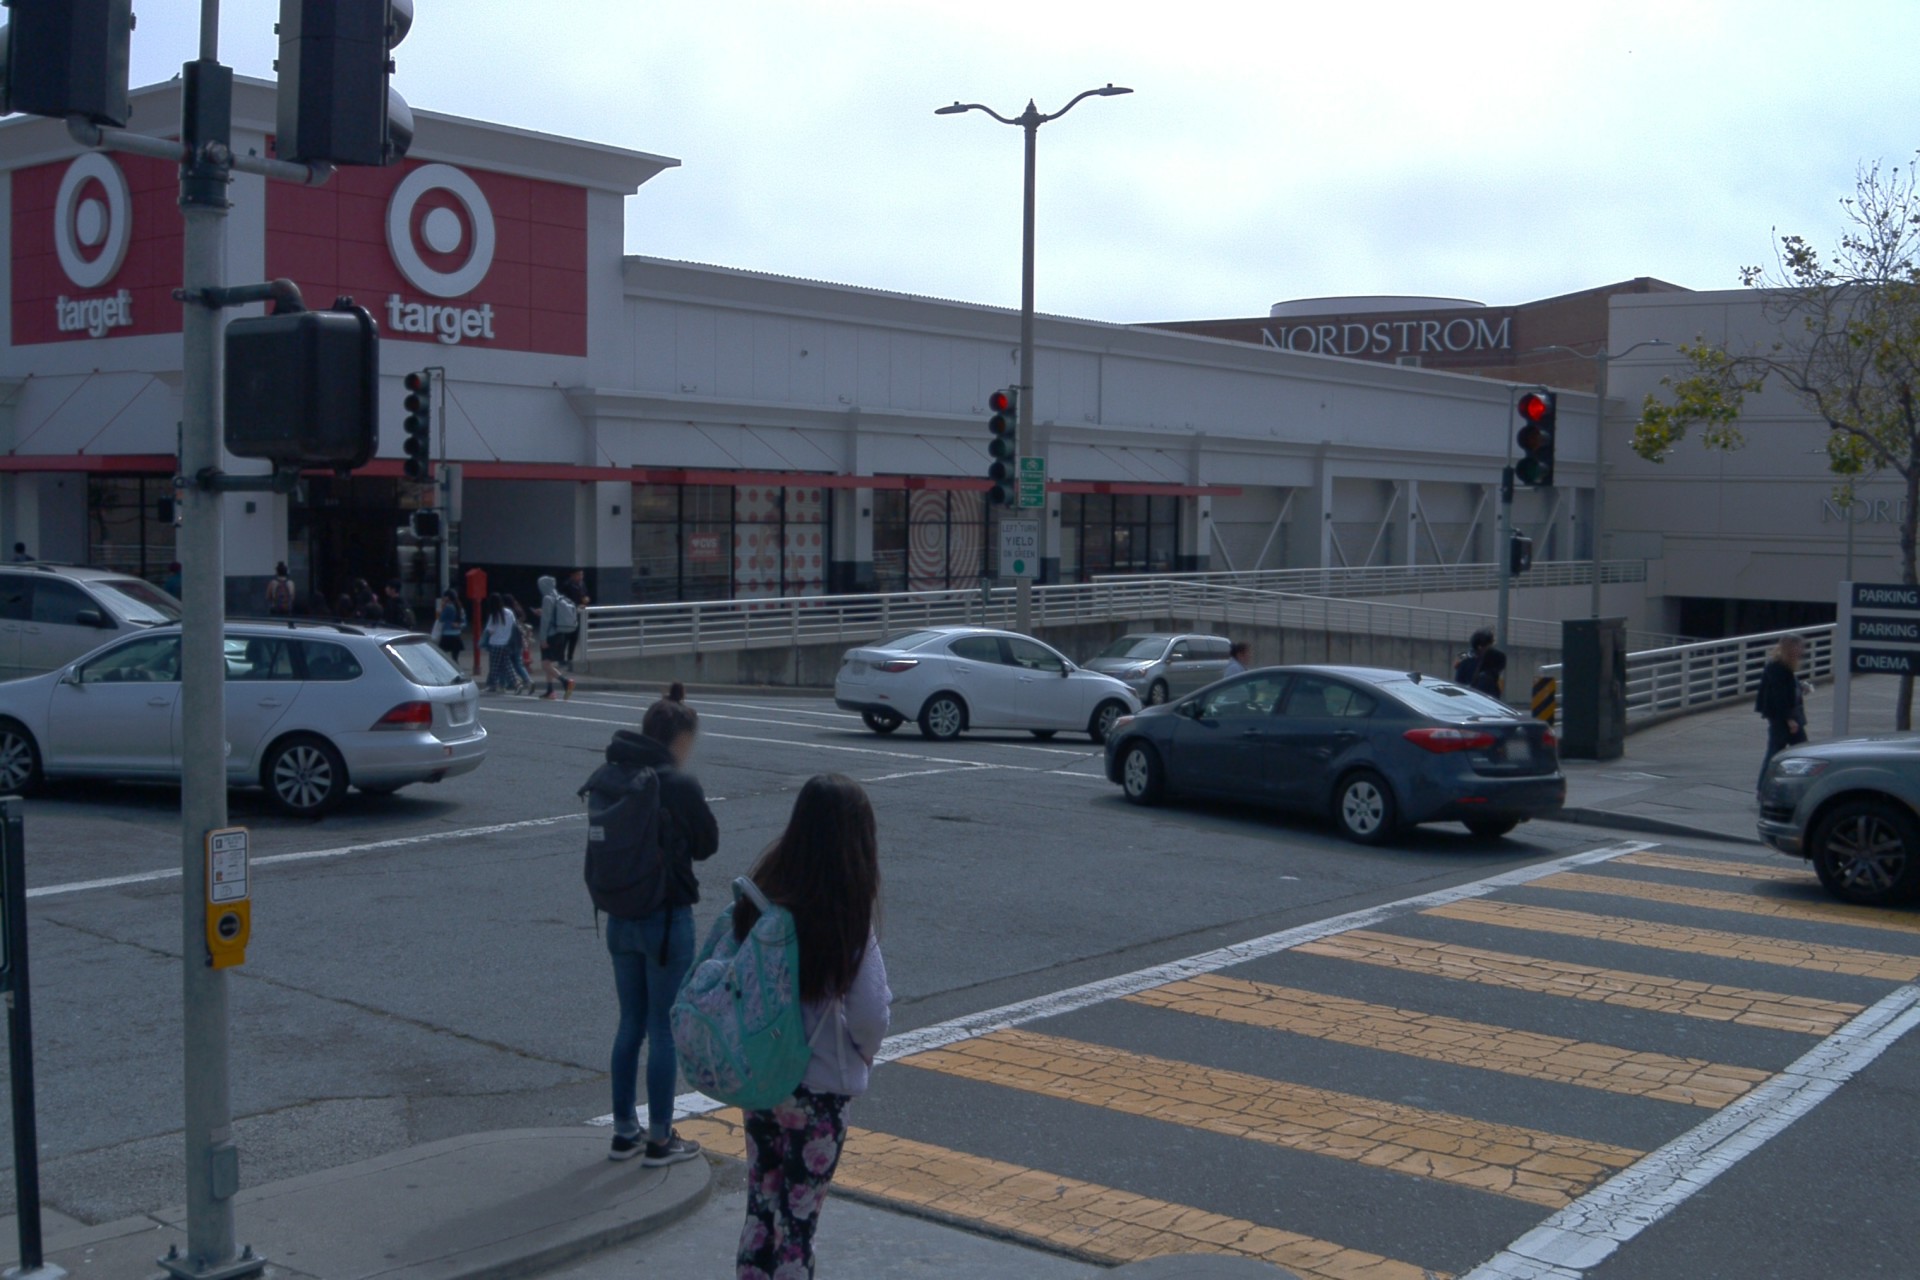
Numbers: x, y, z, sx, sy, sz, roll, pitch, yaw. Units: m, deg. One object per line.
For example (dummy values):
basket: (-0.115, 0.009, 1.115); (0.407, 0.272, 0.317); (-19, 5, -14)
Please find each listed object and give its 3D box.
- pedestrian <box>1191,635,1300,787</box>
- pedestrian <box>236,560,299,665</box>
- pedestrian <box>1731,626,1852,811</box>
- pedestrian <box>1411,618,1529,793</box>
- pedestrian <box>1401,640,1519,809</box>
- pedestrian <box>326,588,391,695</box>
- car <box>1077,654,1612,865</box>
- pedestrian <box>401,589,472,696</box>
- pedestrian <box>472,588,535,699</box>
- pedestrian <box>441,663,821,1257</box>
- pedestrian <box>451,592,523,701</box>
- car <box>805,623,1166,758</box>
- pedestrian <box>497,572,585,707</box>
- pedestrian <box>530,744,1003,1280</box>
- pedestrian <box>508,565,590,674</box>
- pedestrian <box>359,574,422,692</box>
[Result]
pedestrian: (3.147, 0.757, 22.688); (0.973, 1.610, 0.943); (0, 1, 23)
pedestrian: (-11.401, -0.446, 33.987); (0.689, 1.700, 0.895); (-1, 1, -40)
pedestrian: (7.819, 0.715, 19.399); (0.926, 1.680, 0.769); (0, 1, 32)
pedestrian: (5.250, 0.647, 21.233); (1.018, 1.750, 0.795); (0, 1, 27)
pedestrian: (4.987, 0.822, 20.570); (0.987, 1.630, 0.742); (0, 1, 28)
pedestrian: (-9.145, 0.017, 31.377); (0.758, 1.600, 0.587); (0, 1, 36)
car: (3.232, 0.931, 18.129); (2.068, 1.520, 4.363); (-1, 1, -37)
pedestrian: (-8.122, 0.034, 32.031); (0.721, 1.630, 0.786); (0, 1, 33)
pedestrian: (-7.039, 0.051, 31.817); (0.804, 1.680, 0.508); (0, 1, 31)
pedestrian: (-1.064, 0.972, 6.815); (0.843, 1.760, 0.940); (0, 1, 26)
pedestrian: (-7.205, 0.089, 31.412); (0.890, 1.630, 0.612); (0, 1, 33)
car: (0.362, 0.598, 26.972); (4.390, 1.600, 1.876); (-1, 1, -31)
pedestrian: (-6.192, -0.015, 30.507); (1.040, 1.960, 0.717); (0, 1, 27)
pedestrian: (-0.457, 1.136, 5.133); (0.721, 1.680, 0.960); (0, 1, 34)
pedestrian: (-7.099, -0.350, 35.642); (1.037, 1.850, 0.949); (0, 1, 20)
pedestrian: (-8.786, -0.115, 31.833); (0.732, 1.800, 0.592); (0, 1, 33)
